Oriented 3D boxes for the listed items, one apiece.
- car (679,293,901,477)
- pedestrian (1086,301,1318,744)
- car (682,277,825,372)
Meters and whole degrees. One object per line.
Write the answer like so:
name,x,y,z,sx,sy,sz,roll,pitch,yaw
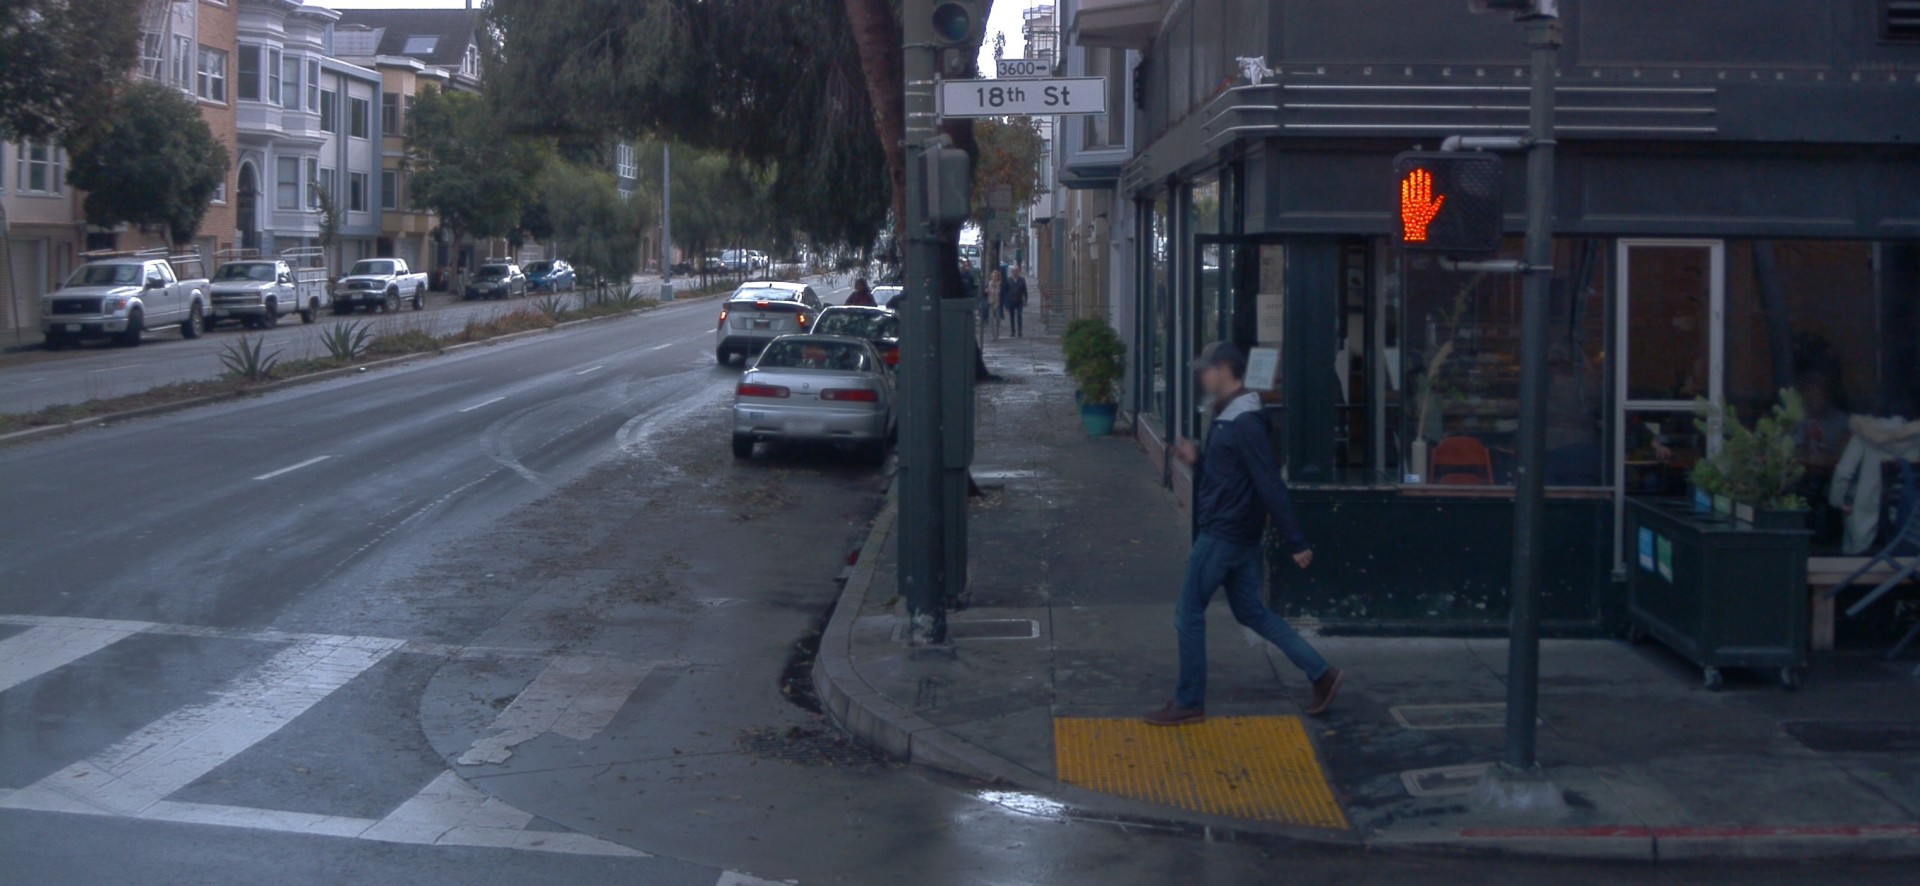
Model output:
car,-1.828,-0.762,23.785,2.017,1.784,4.399,1,5,2
pedestrian,1.164,0.319,9.823,1.023,1.939,0.918,1,1,9
car,-3.741,-2.245,38.523,2.136,1.554,4.426,1,5,1
